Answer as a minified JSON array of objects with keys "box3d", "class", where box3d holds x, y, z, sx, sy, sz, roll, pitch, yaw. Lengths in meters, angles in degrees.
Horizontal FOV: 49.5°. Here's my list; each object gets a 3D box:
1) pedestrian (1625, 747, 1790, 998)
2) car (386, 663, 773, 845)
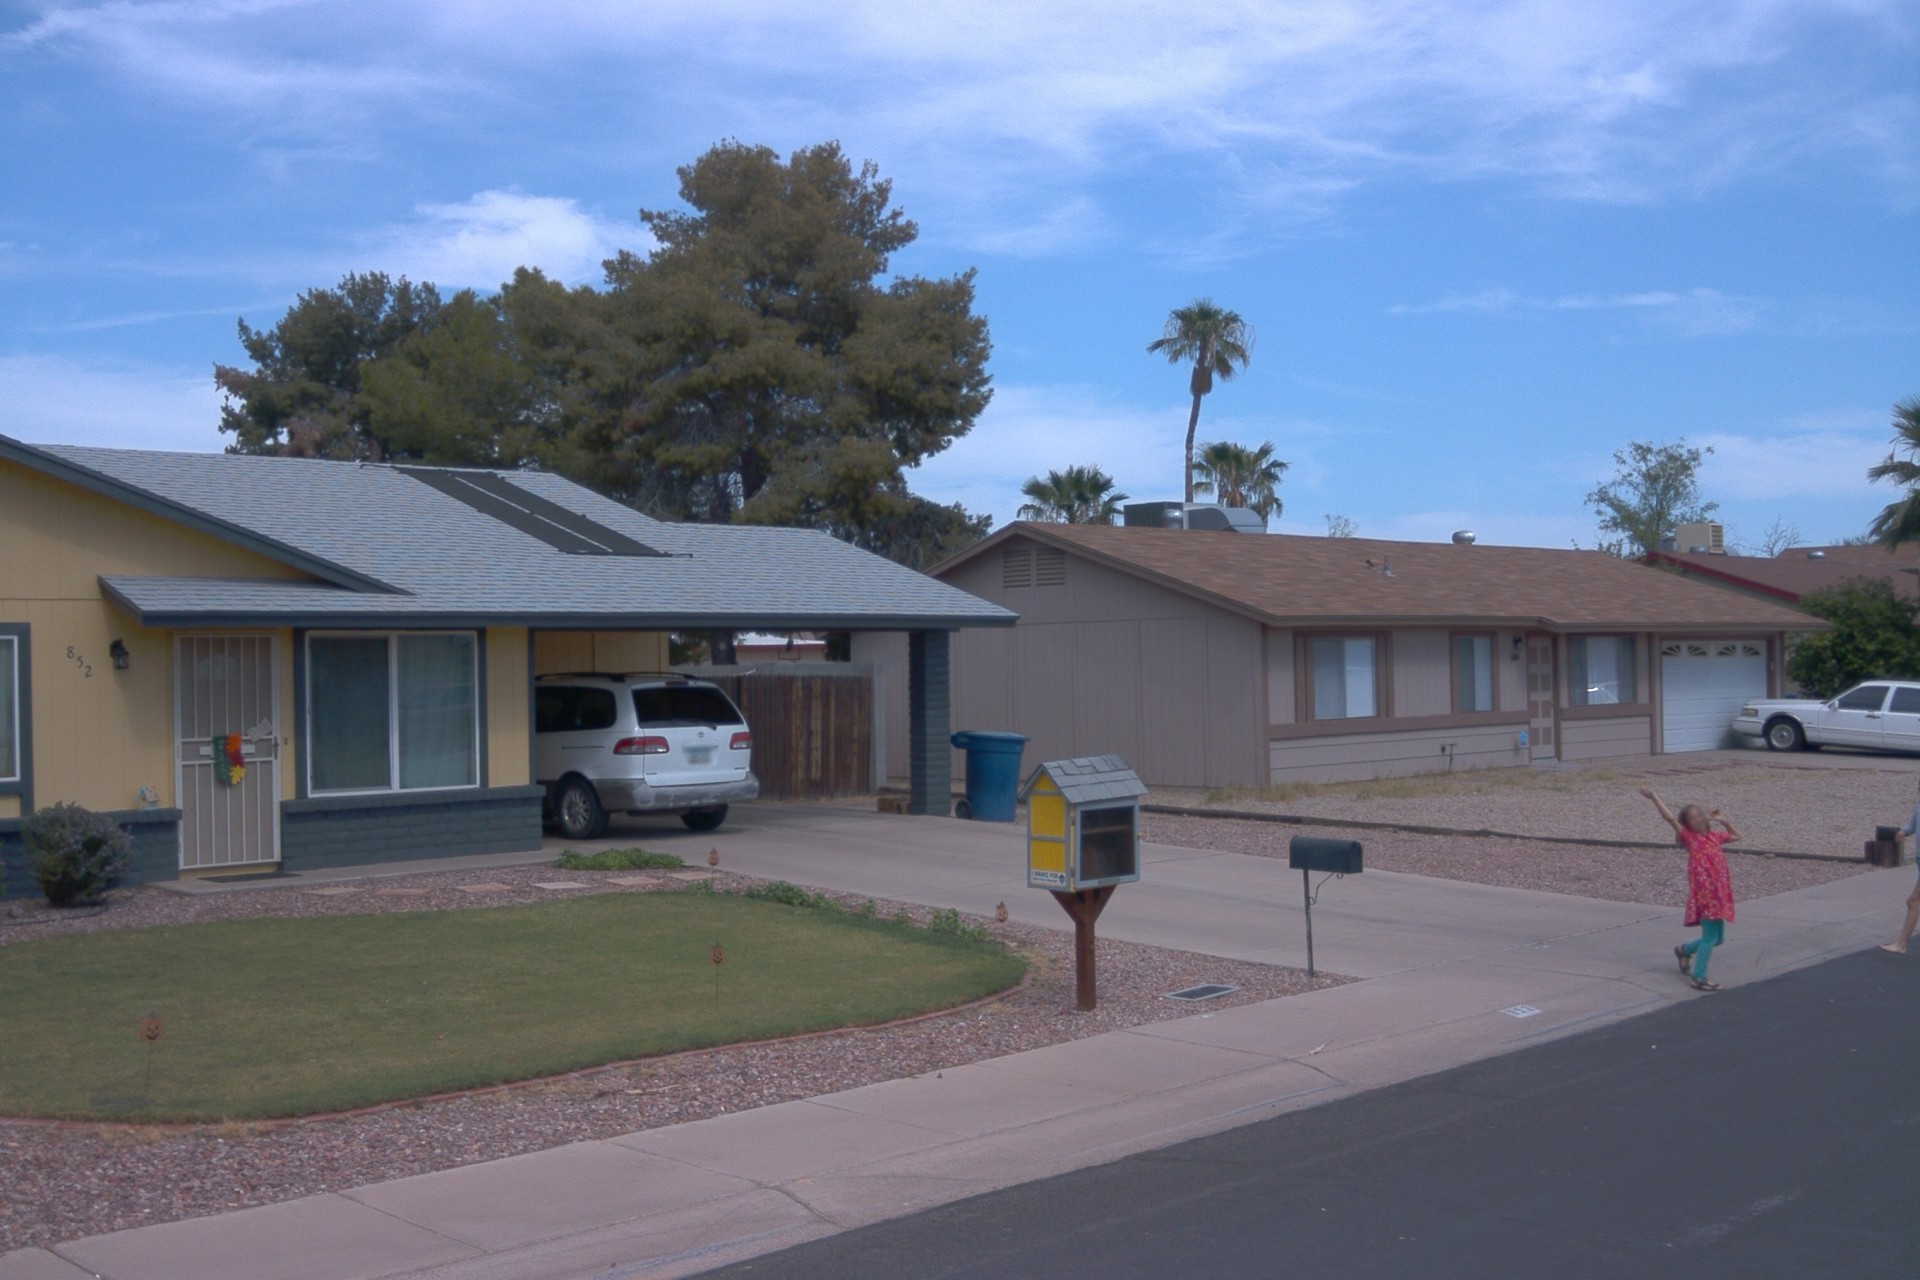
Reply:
[{"box3d":[5.073,1.545,14.184,1.016,1.580,0.962,0,0,19],"class":"pedestrian"},{"box3d":[-4.224,1.158,22.810,4.247,1.790,1.856,0,0,40],"class":"car"}]
